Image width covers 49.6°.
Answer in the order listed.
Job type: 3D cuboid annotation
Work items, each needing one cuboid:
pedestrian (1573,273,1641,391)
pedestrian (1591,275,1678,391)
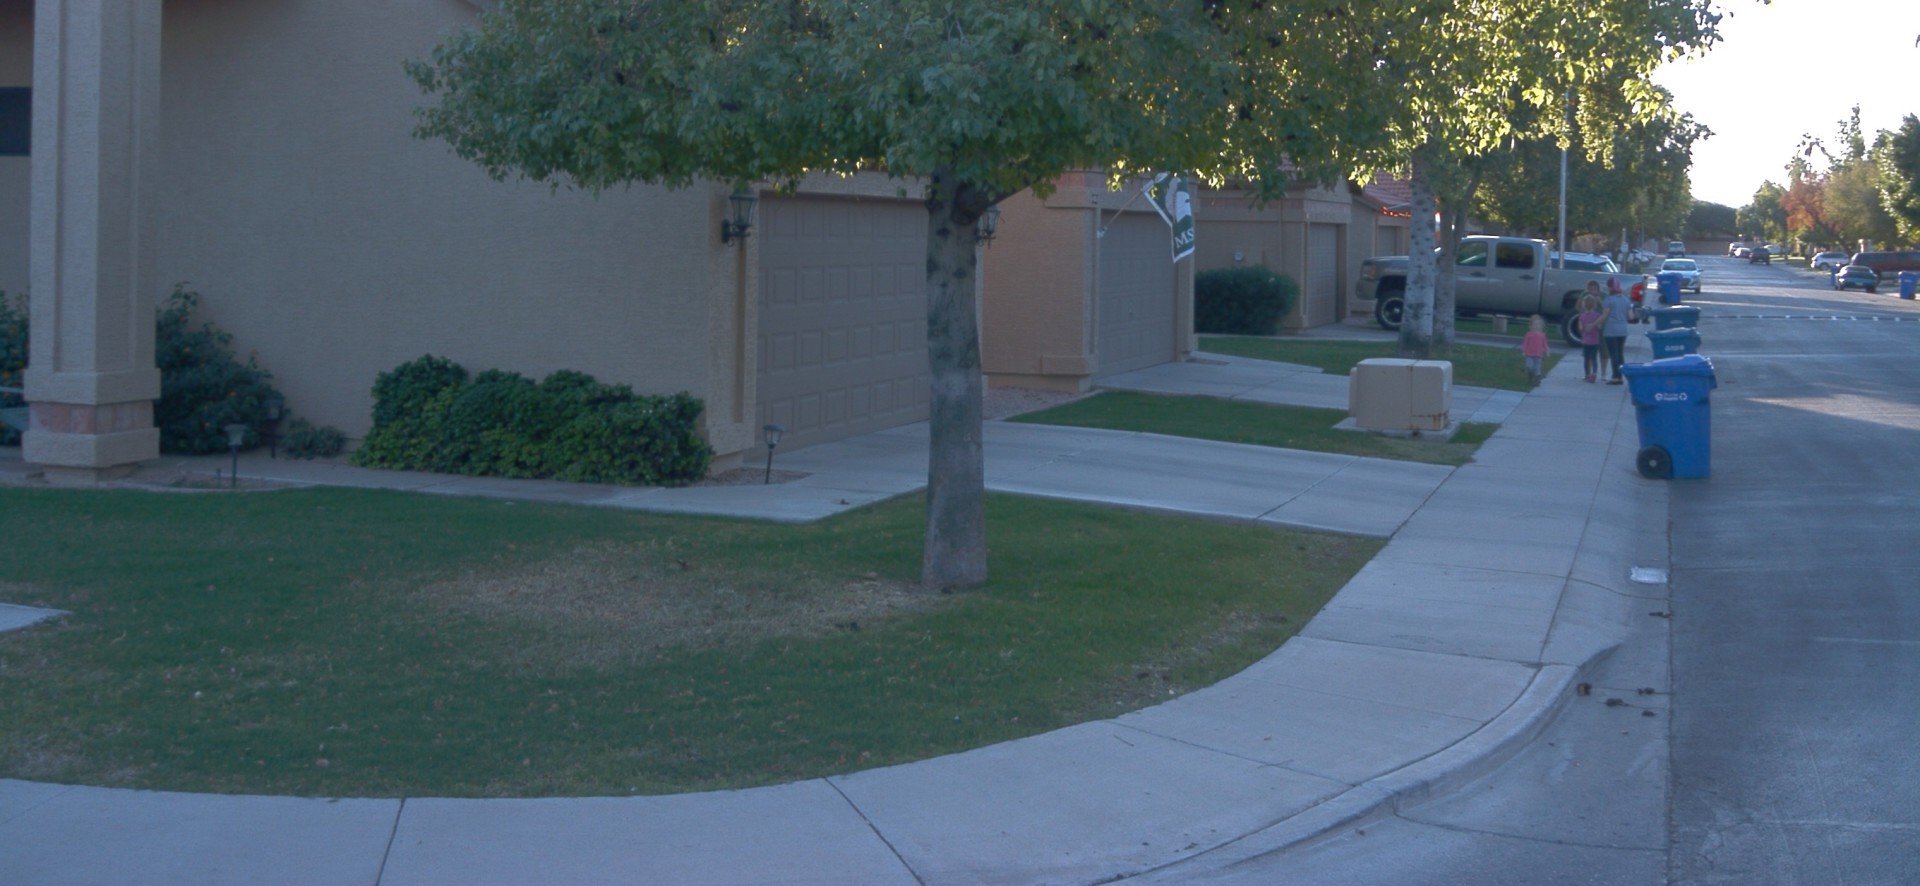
[{"bbox_3d":[9.661,-1.672,30.980,0.774,1.687,0.751,2,3,34],"label":"pedestrian"},{"bbox_3d":[9.816,-1.614,30.196,0.947,1.617,0.757,-1,3,-31],"label":"pedestrian"}]
